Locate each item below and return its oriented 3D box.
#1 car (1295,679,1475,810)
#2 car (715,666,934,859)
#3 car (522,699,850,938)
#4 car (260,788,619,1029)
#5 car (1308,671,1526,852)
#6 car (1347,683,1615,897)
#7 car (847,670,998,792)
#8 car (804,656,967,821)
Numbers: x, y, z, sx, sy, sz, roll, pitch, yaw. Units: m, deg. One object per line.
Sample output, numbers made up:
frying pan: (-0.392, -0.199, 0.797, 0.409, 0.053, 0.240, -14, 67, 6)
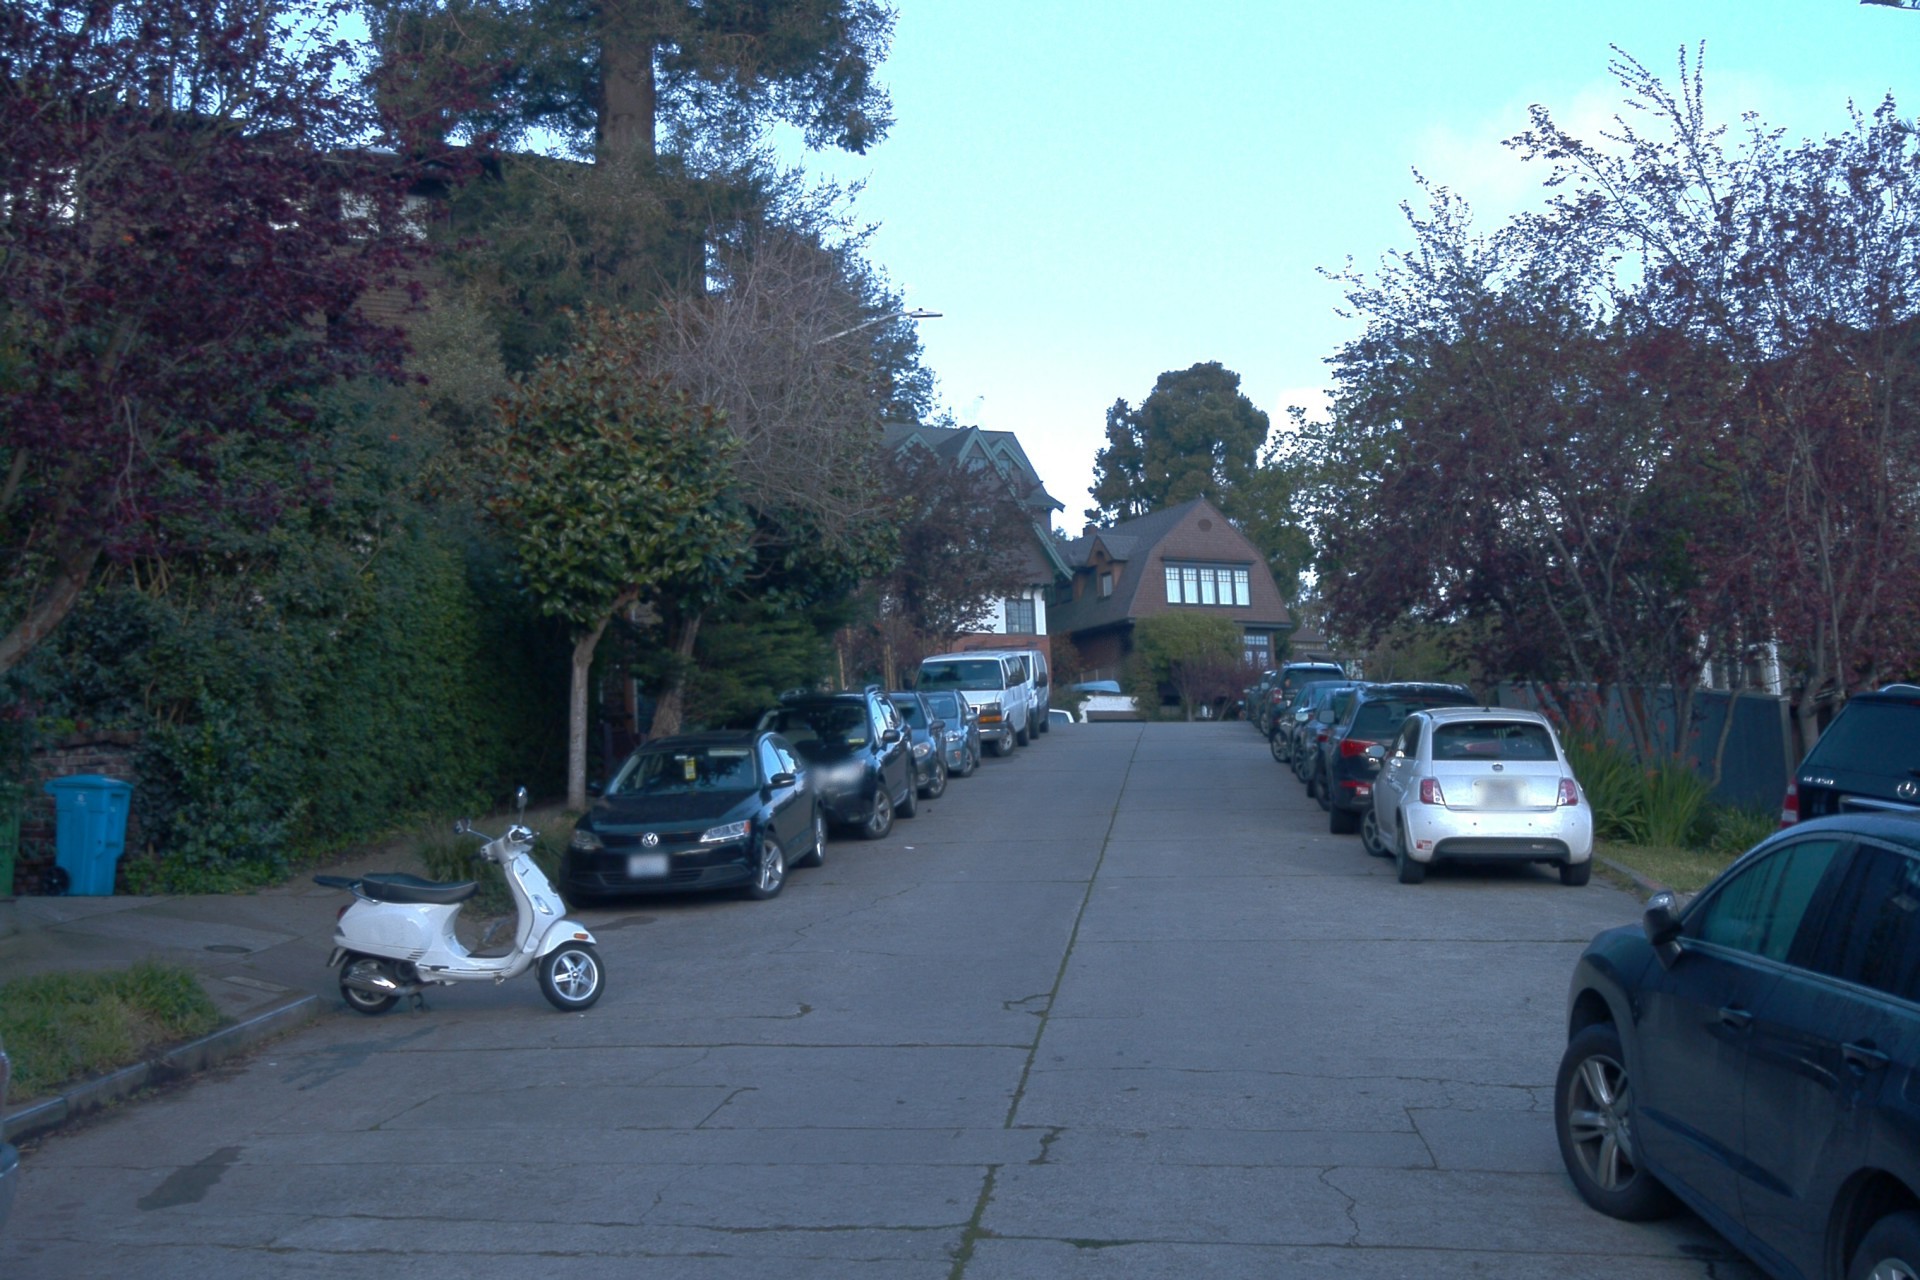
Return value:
car: (5.823, 1.377, 28.764, 2.087, 1.581, 4.821, 0, 0, 7)
car: (-1.514, 1.366, 24.842, 1.890, 2.043, 4.700, 0, 0, 6)
car: (-2.397, 1.535, 19.393, 2.063, 1.817, 4.783, 0, 0, 5)
car: (-3.093, 1.588, 12.417, 1.919, 1.324, 0.959, 0, 0, -1)
car: (5.152, 1.291, 23.830, 2.177, 1.798, 4.804, 0, 0, 9)
car: (4.692, 1.286, 19.038, 1.797, 1.690, 3.713, 0, 0, 4)
car: (-0.571, 1.506, 35.664, 2.087, 1.898, 4.629, 0, 0, 5)
car: (-1.029, 1.378, 30.757, 1.967, 2.243, 4.426, 0, 0, 4)
